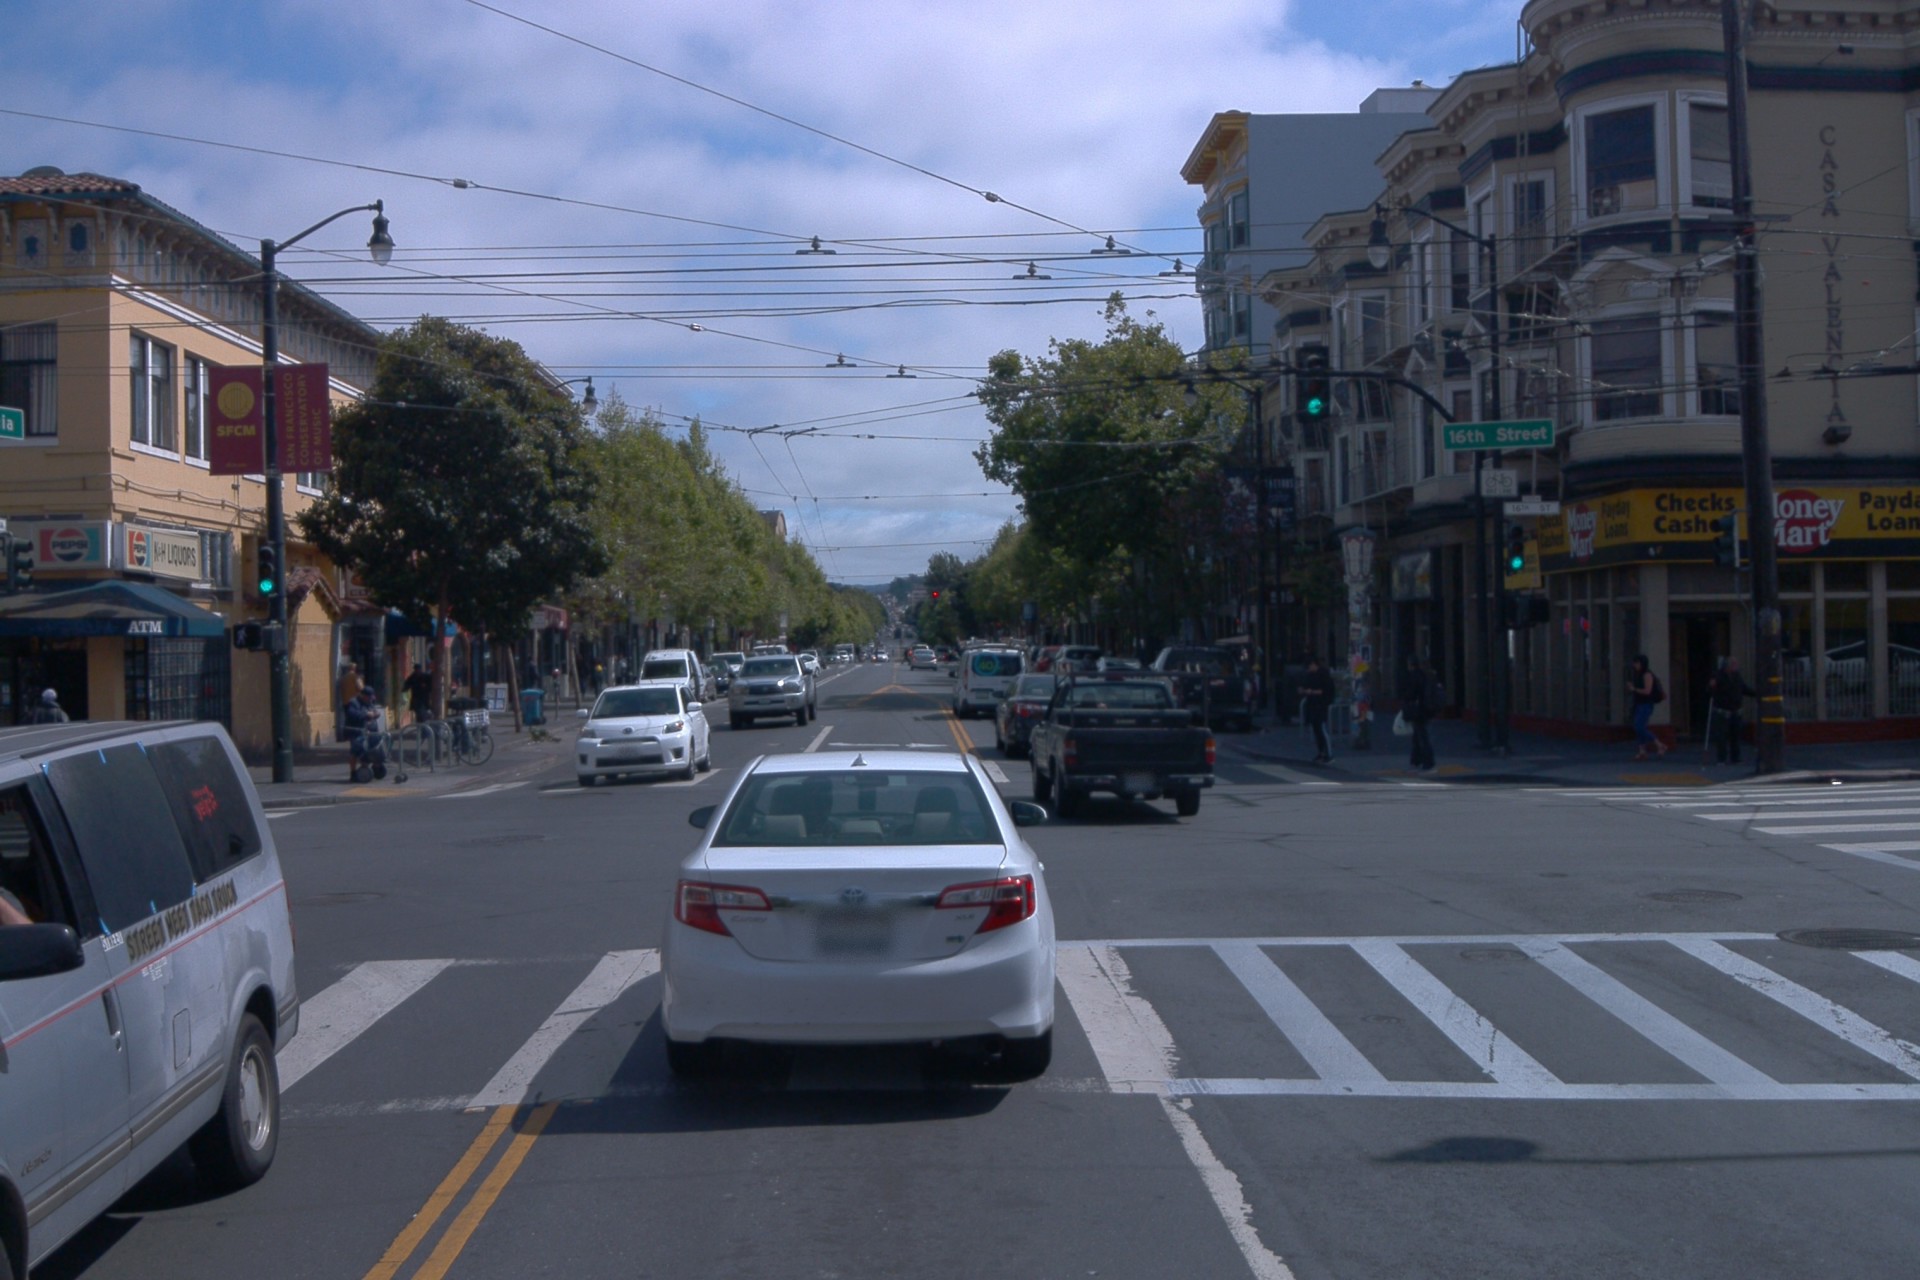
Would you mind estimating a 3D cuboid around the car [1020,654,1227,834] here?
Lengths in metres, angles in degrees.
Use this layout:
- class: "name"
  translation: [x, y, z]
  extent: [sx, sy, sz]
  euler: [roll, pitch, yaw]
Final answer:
- class: "car"
  translation: [1.794, 1.111, 23.947]
  extent: [1.837, 1.810, 4.425]
  euler: [0, 1, -3]

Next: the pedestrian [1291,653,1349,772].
- class: "pedestrian"
  translation: [5.961, 1.188, 34.051]
  extent: [0.766, 1.920, 0.749]
  euler: [0, 1, -5]

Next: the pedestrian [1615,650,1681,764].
- class: "pedestrian"
  translation: [10.807, 1.043, 32.311]
  extent: [0.932, 1.750, 0.695]
  euler: [0, 1, 15]

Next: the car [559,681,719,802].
- class: "car"
  translation: [-4.852, 1.496, 31.552]
  extent: [1.947, 1.610, 3.886]
  euler: [0, 1, -2]

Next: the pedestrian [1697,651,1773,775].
- class: "pedestrian"
  translation: [11.640, 1.077, 30.905]
  extent: [1.003, 1.790, 1.325]
  euler: [0, 1, 18]

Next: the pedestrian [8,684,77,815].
- class: "pedestrian"
  translation: [-13.486, 1.590, 30.201]
  extent: [0.901, 1.850, 0.716]
  euler: [-1, 1, -24]

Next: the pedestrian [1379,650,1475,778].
- class: "pedestrian"
  translation: [7.281, 1.128, 32.058]
  extent: [0.932, 1.920, 1.116]
  euler: [-1, 1, -32]

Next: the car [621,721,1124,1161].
- class: "car"
  translation: [-0.477, 1.334, 10.805]
  extent: [2.078, 1.570, 4.573]
  euler: [0, 1, -3]

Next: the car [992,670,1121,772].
- class: "car"
  translation: [1.635, 1.374, 36.390]
  extent: [1.908, 1.560, 4.462]
  euler: [0, 1, -2]

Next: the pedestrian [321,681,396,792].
- class: "pedestrian"
  translation: [-10.015, 1.591, 34.258]
  extent: [0.827, 1.790, 0.866]
  euler: [0, 1, 38]
